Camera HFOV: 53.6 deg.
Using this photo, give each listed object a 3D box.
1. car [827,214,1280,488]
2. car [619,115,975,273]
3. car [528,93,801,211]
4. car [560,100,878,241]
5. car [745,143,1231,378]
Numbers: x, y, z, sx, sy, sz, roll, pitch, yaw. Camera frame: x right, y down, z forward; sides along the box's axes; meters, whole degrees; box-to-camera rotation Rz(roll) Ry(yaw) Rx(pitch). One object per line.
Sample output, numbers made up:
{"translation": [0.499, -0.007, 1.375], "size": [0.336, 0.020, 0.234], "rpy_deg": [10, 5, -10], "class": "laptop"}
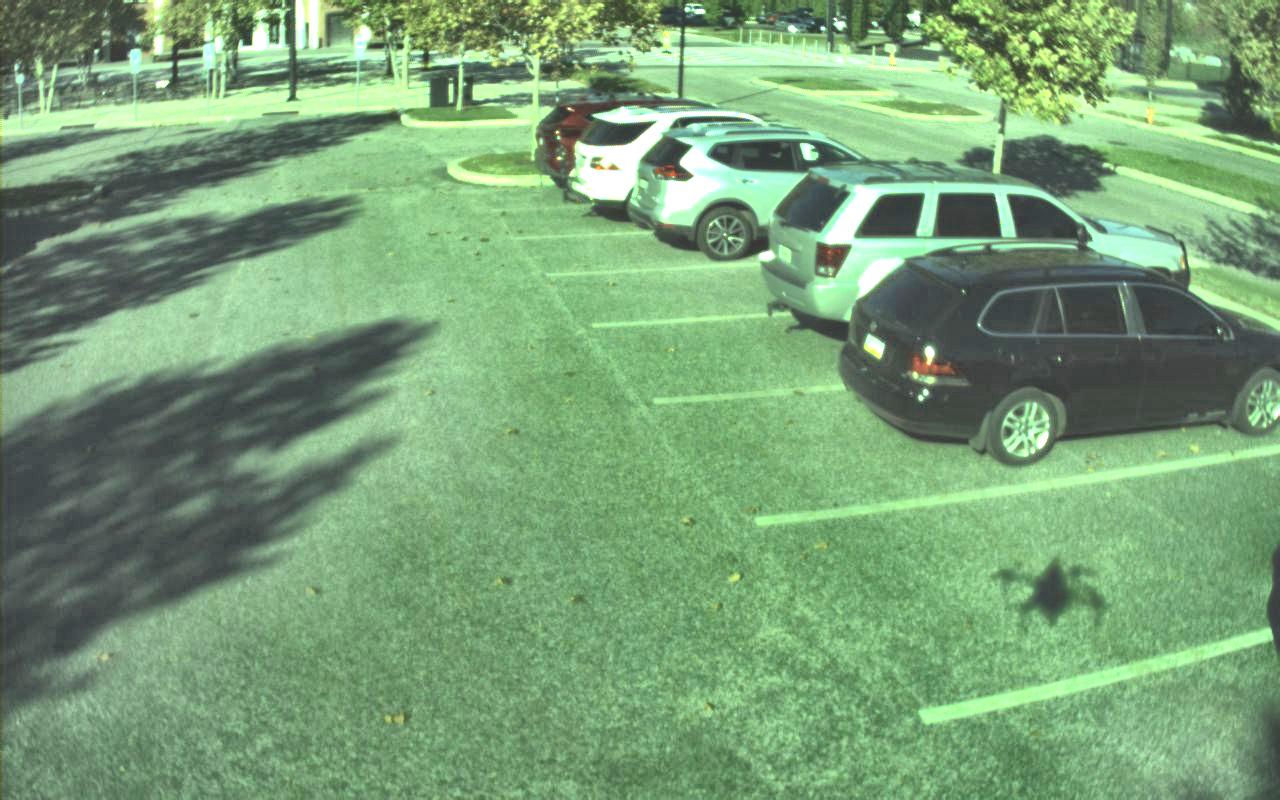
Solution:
{"translation": [3.934, -0.581, 10.010], "size": [4.415, 1.571, 1.919], "rpy_deg": [-5, 17, -13], "class": "car"}
{"translation": [2.157, -2.947, 17.200], "size": [4.551, 1.796, 1.988], "rpy_deg": [-5, 17, -13], "class": "car"}
{"translation": [0.404, -4.467, 22.136], "size": [4.479, 1.753, 1.983], "rpy_deg": [-6, 17, -15], "class": "car"}
{"translation": [1.233, -3.686, 19.543], "size": [4.590, 1.818, 2.010], "rpy_deg": [-6, 17, -17], "class": "car"}
{"translation": [3.619, -1.590, 12.444], "size": [4.750, 1.882, 2.054], "rpy_deg": [-5, 17, -13], "class": "car"}
